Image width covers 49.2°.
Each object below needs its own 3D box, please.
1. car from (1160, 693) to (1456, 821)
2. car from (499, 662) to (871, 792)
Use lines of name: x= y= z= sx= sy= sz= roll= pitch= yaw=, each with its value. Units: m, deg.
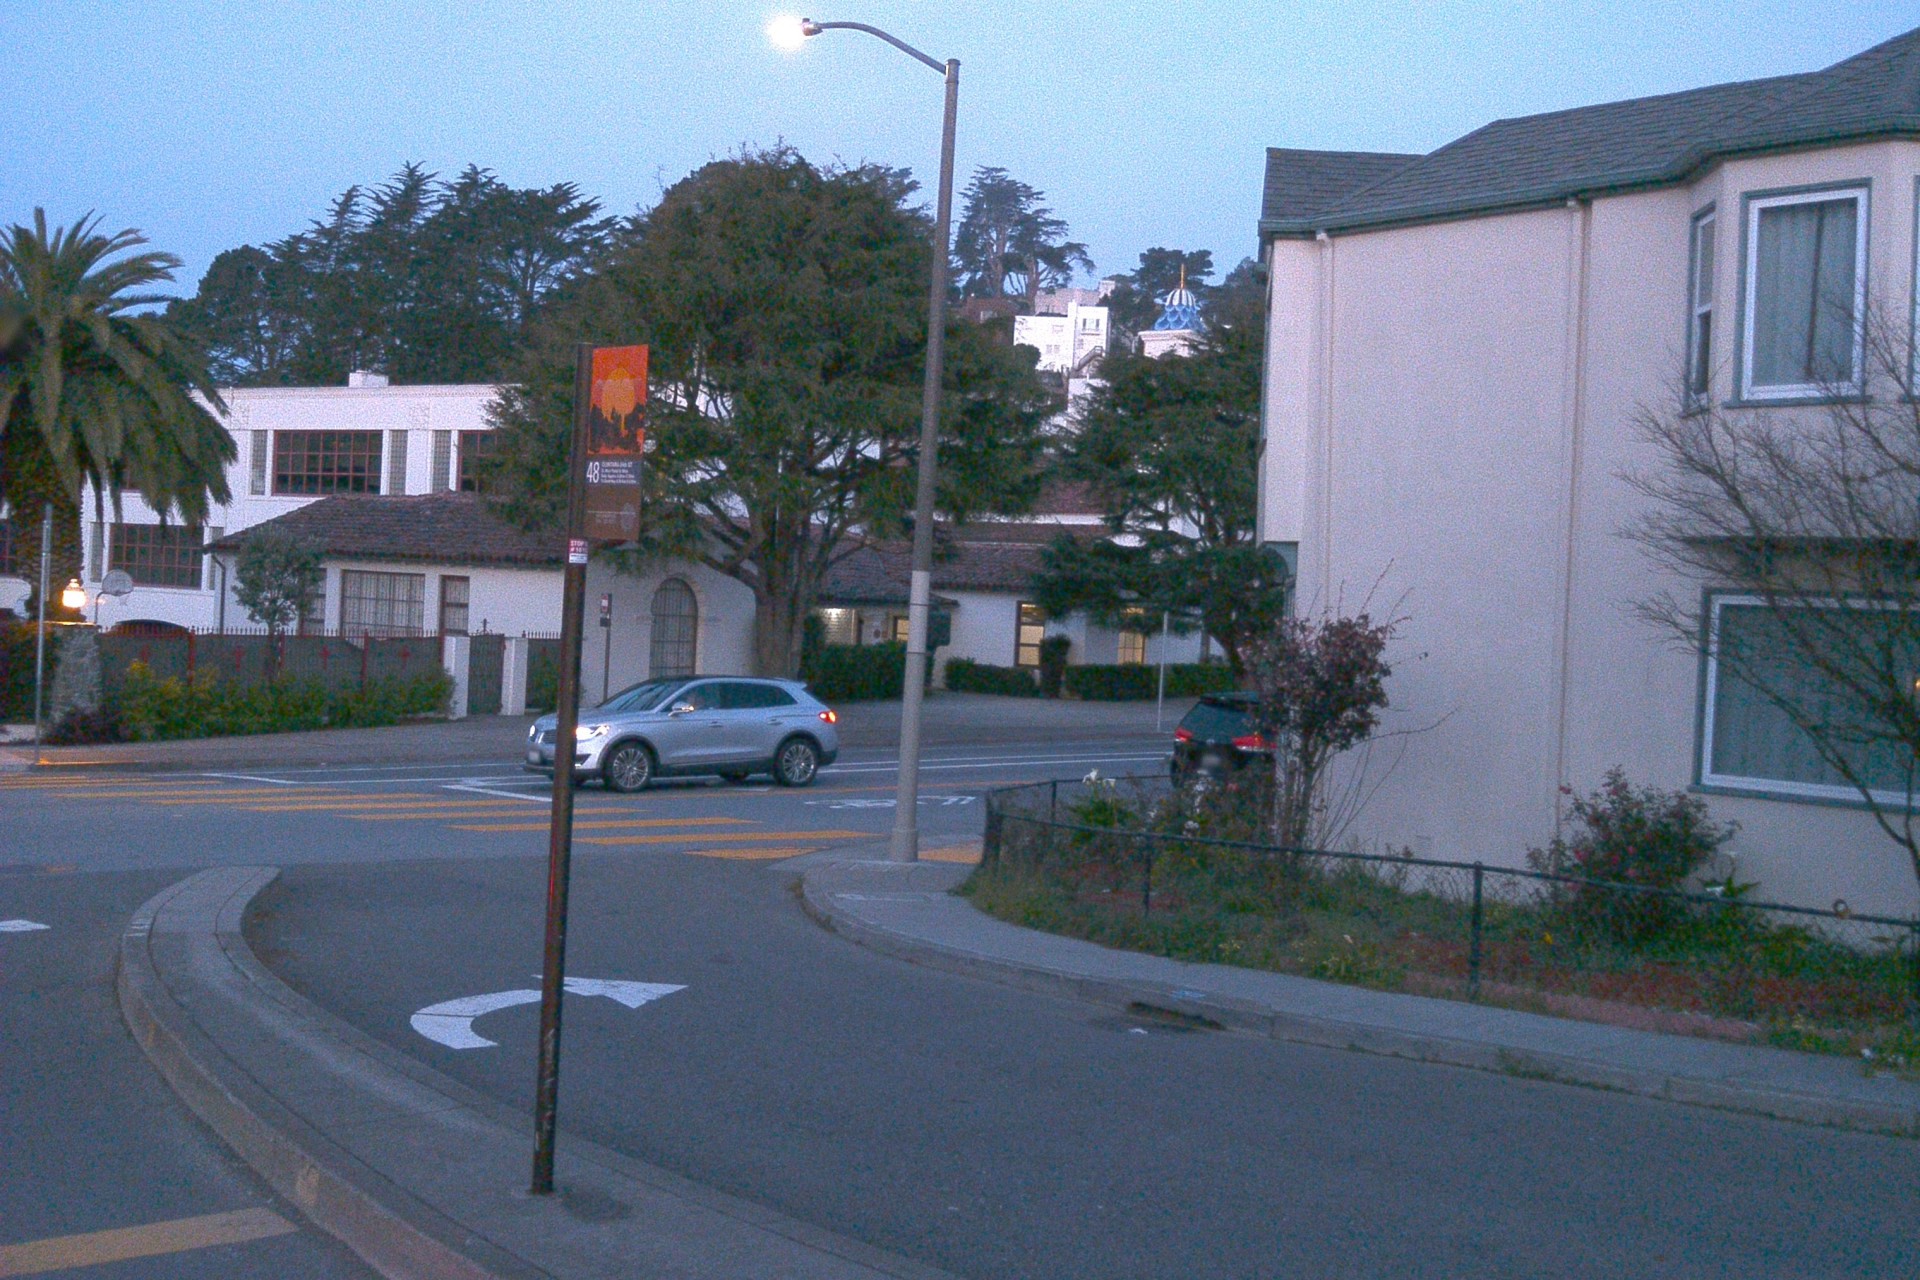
car: x=5.027 y=1.631 z=30.201 sx=3.819 sy=1.660 sz=2.058 roll=1 pitch=0 yaw=-34
car: x=-3.976 y=1.212 z=30.837 sx=5.027 sy=1.730 sz=2.150 roll=1 pitch=0 yaw=-39
